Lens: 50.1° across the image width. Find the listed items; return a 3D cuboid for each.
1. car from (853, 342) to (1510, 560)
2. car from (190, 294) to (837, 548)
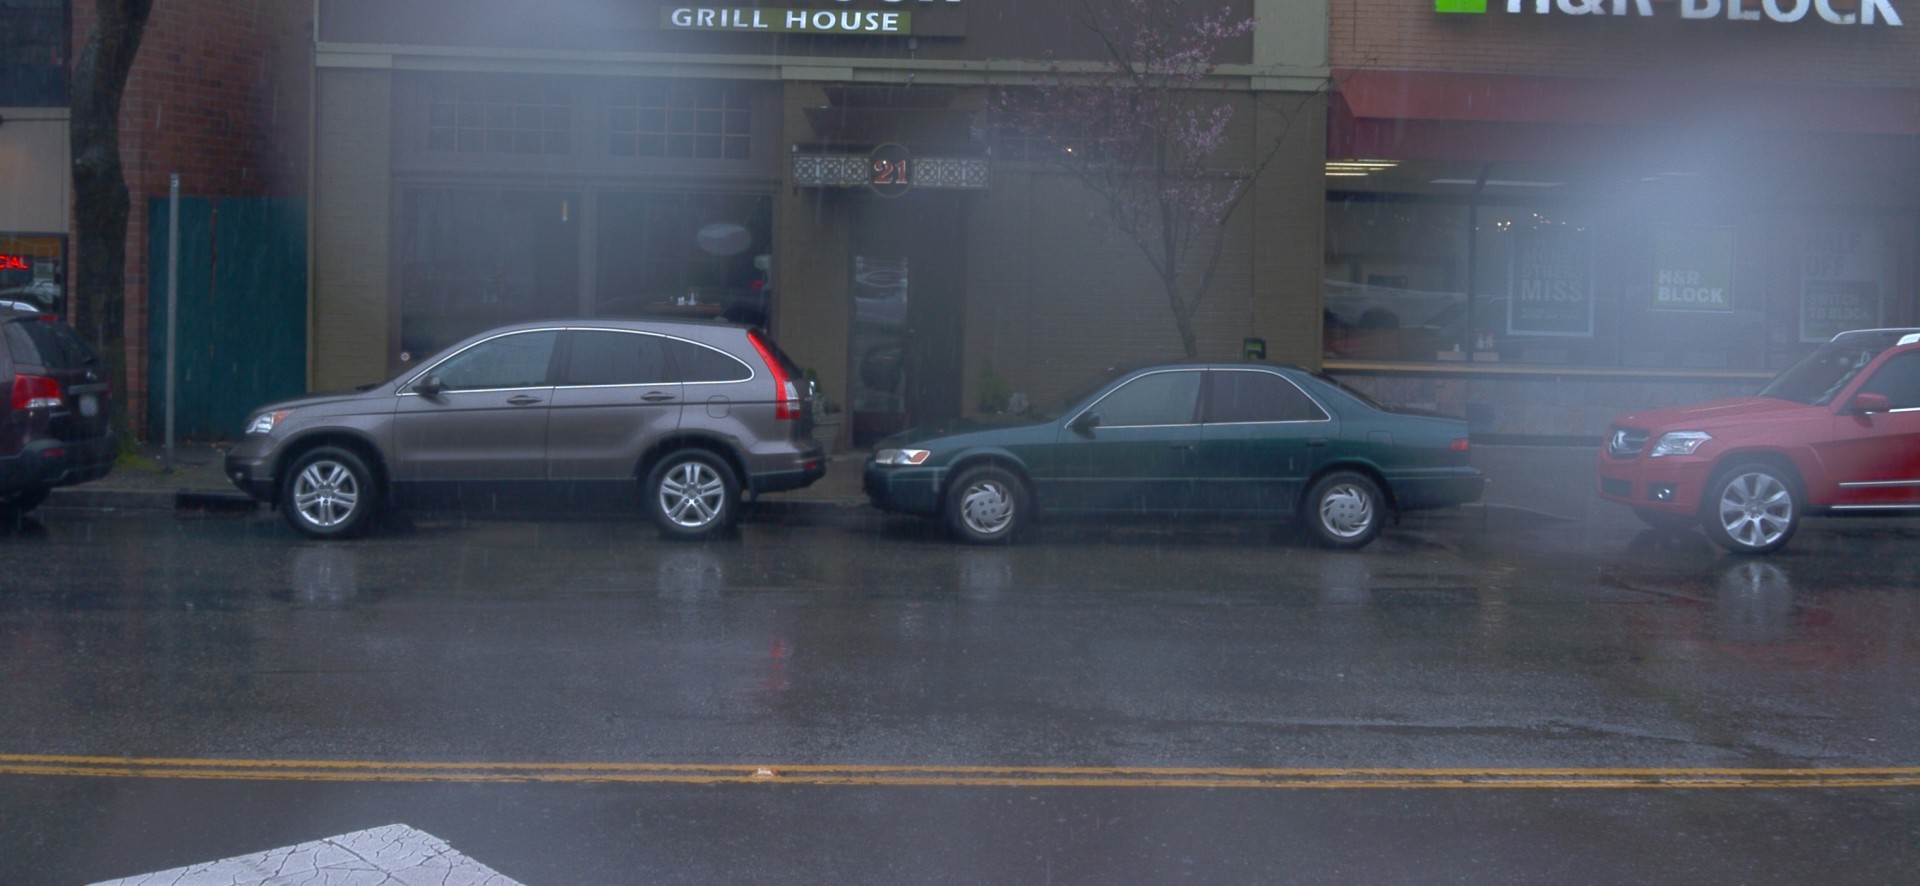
[{"bbox_3d":[1.593,0.013,15.965,4.796,1.414,1.988,1,5,-2],"label":"car"},{"bbox_3d":[-3.281,-0.219,15.797,4.605,1.724,1.918,0,4,-5],"label":"car"}]
